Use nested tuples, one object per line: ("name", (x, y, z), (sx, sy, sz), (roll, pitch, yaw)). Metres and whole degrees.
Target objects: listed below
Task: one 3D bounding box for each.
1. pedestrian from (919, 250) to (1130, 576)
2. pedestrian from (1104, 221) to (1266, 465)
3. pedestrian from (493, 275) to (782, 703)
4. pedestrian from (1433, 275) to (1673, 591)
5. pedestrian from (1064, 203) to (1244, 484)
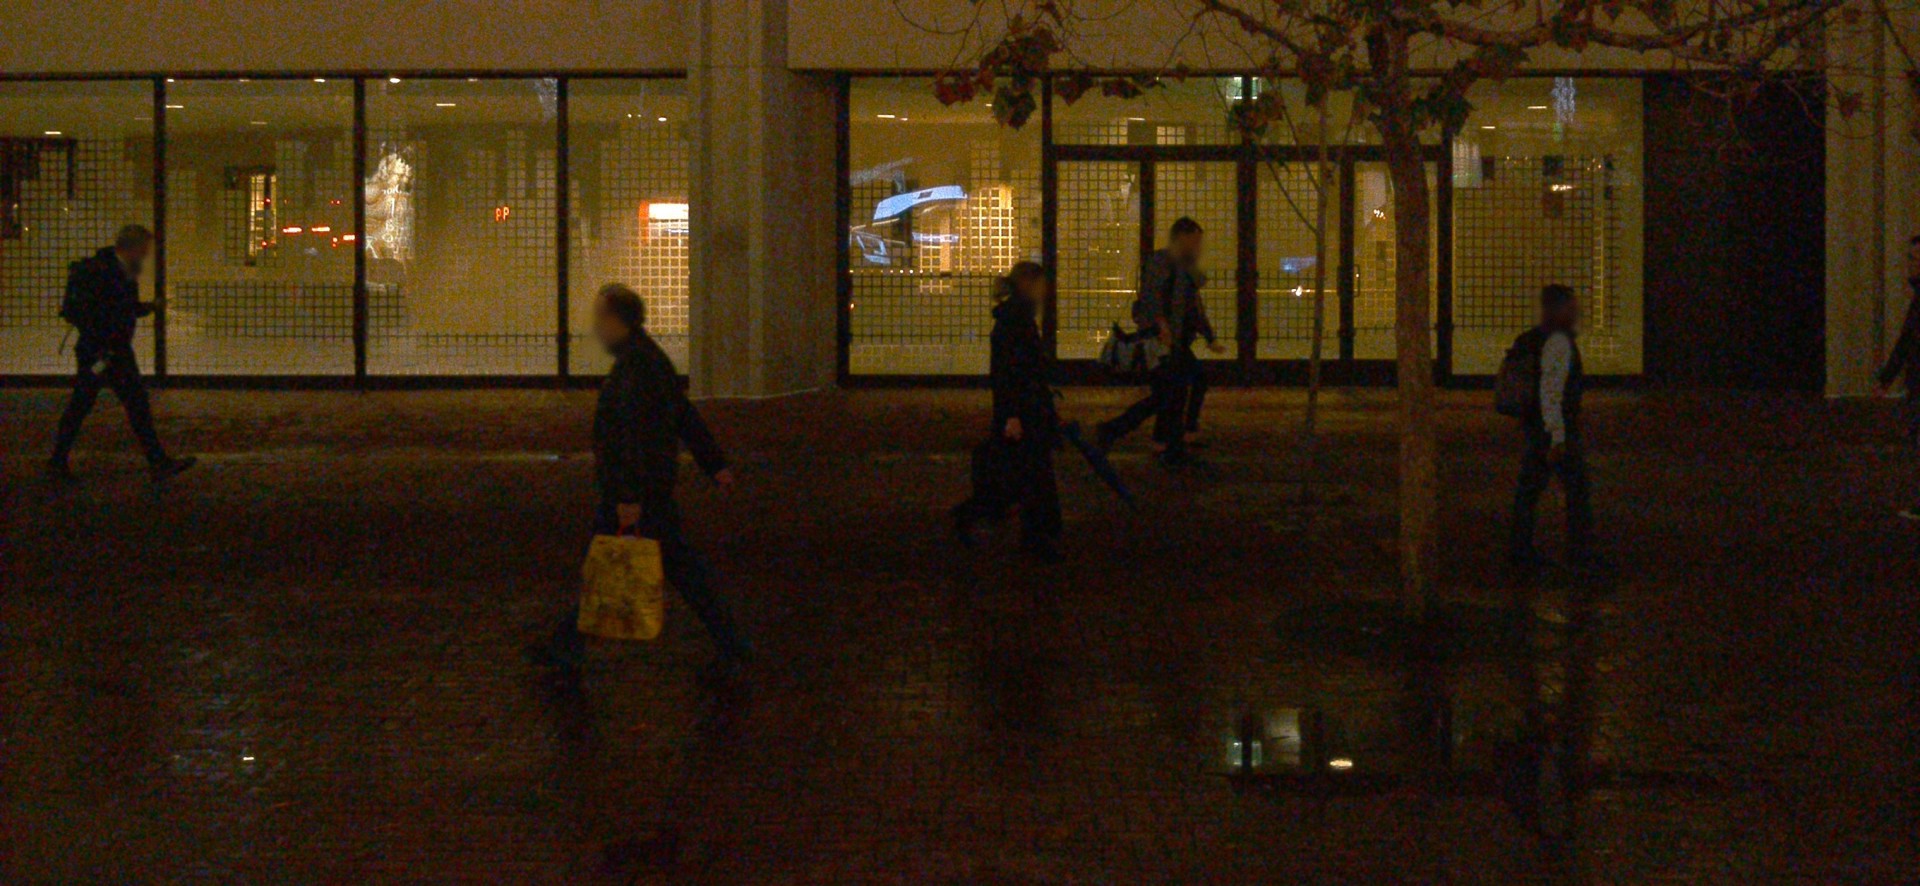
("pedestrian", (0.384, -0.210, 11.597), (1.091, 1.751, 0.971), (0, 1, 7))
("pedestrian", (1.651, -0.757, 15.273), (1.132, 1.761, 0.747), (0, 0, 1))
("pedestrian", (-1.368, 0.148, 8.926), (1.063, 1.741, 0.945), (0, 1, 3))
("pedestrian", (3.222, -0.088, 11.280), (1.106, 1.651, 0.848), (0, 1, 4))
("pedestrian", (1.356, -0.723, 14.579), (1.195, 1.931, 0.894), (0, 1, 1))
